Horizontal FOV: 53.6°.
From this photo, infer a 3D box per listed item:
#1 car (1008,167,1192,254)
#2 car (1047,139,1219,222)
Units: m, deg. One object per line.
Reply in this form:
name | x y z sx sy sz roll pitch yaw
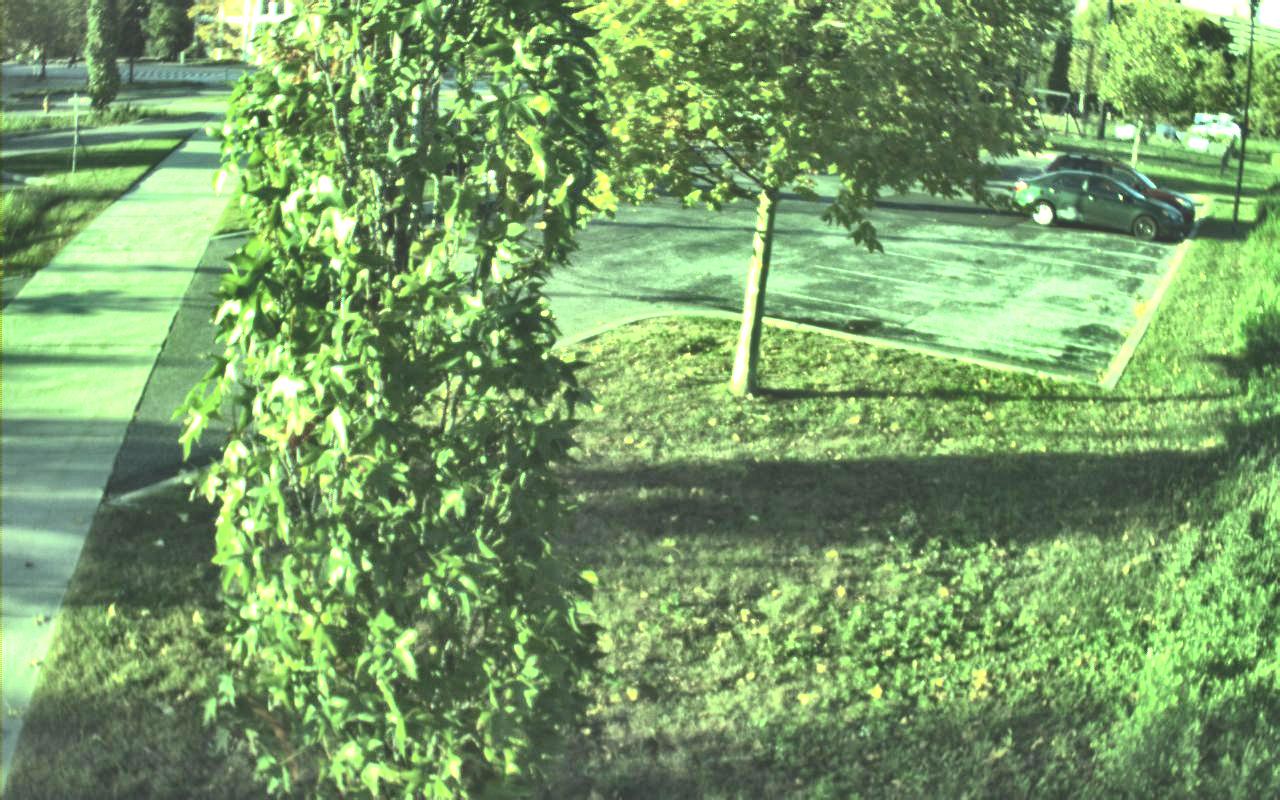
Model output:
car | 11.642 -4.780 29.848 4.603 1.627 1.988 7 17 28
car | 13.441 -5.942 31.782 4.760 1.749 2.062 6 17 25
